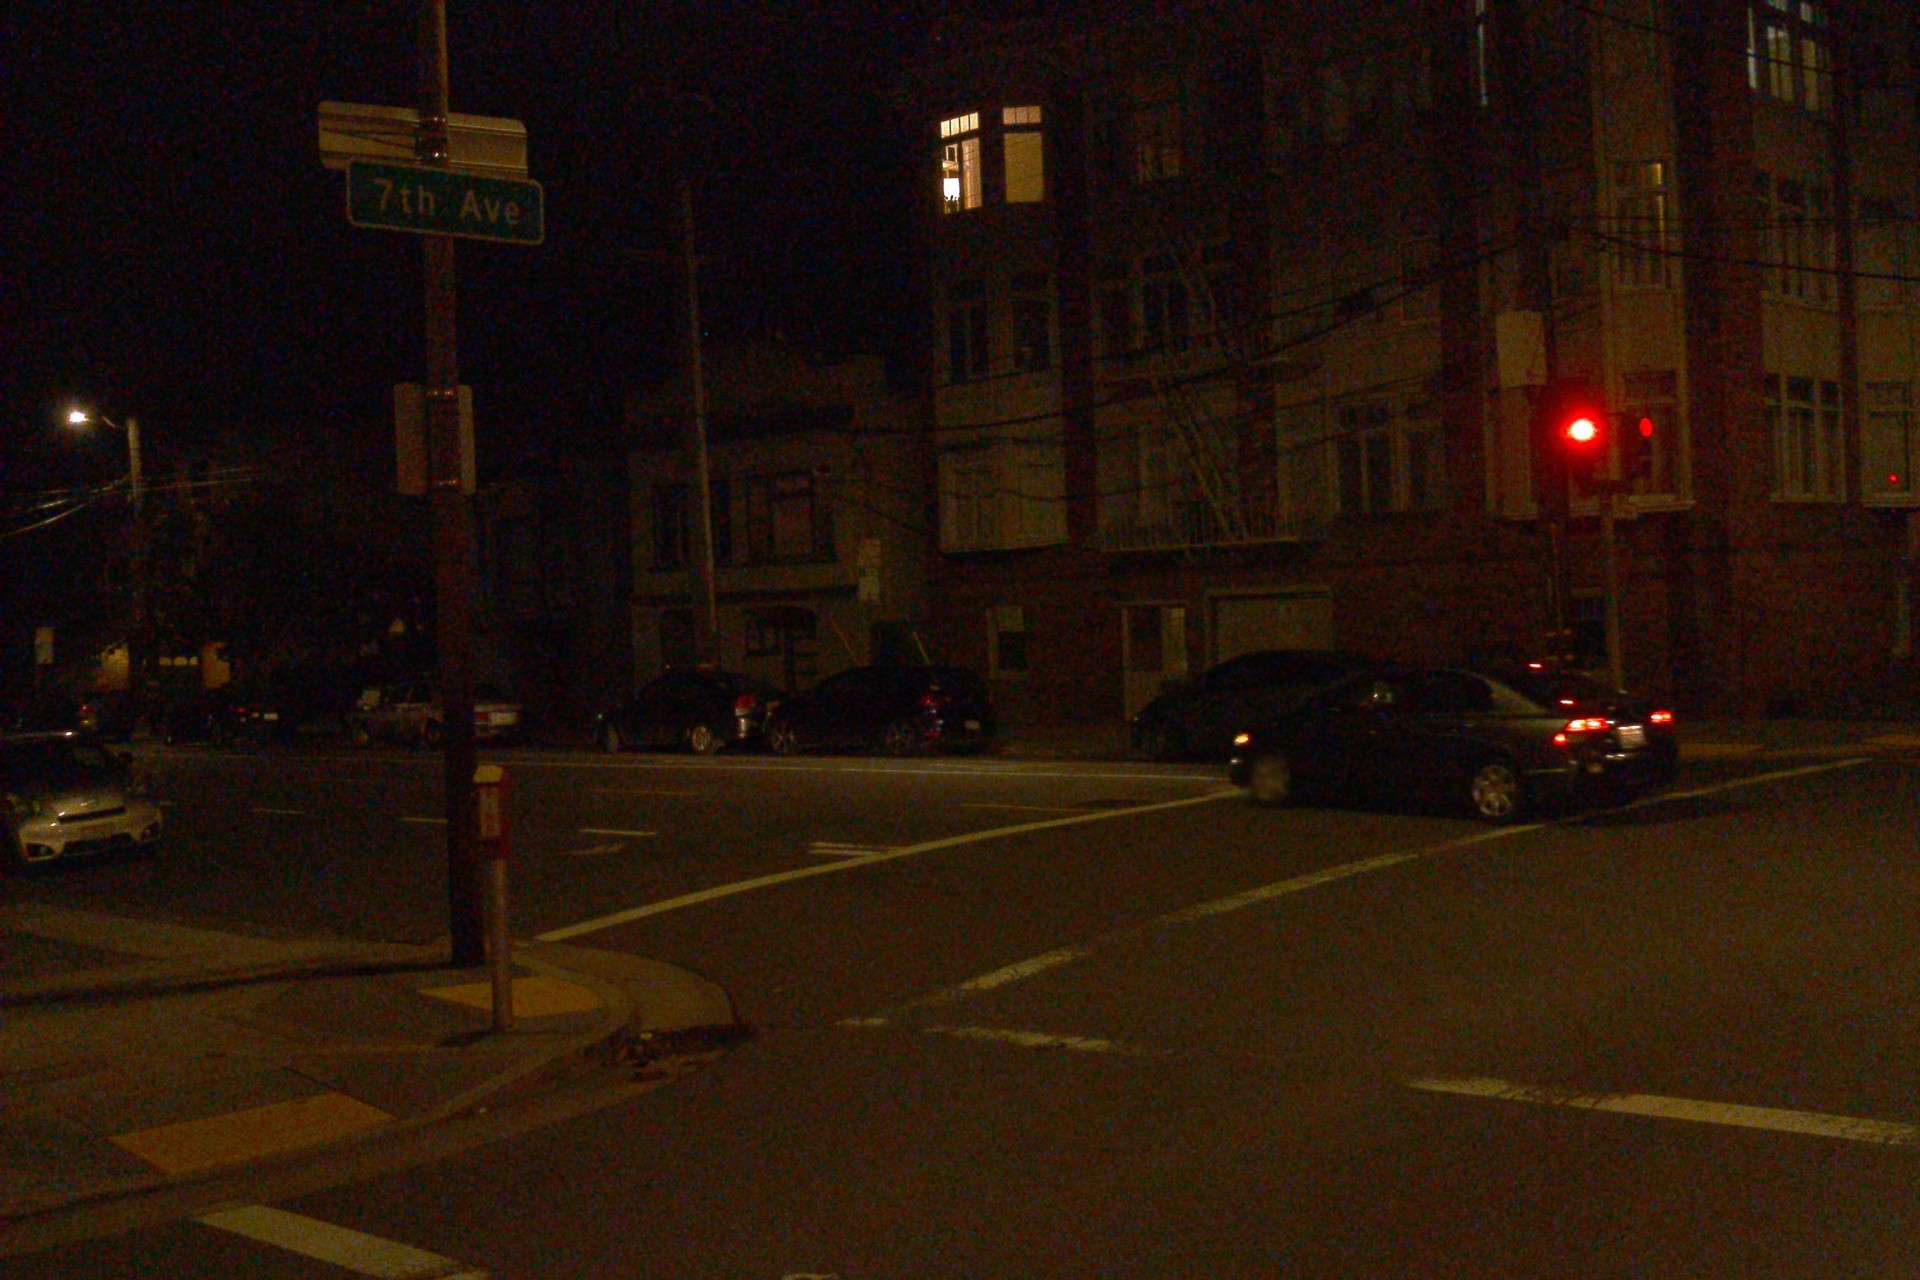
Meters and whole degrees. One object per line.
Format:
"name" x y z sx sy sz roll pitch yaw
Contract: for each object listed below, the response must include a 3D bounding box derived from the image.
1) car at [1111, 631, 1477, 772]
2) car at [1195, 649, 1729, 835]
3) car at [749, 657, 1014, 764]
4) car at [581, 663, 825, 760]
"car" 4.296 0.726 26.963 1.933 1.630 4.458 -1 1 -44
"car" 4.536 0.842 19.250 2.068 1.420 4.593 -1 1 -36
"car" -1.297 1.061 32.501 4.150 1.470 1.786 1 1 43
"car" -4.510 1.195 35.768 4.298 1.460 1.941 1 1 44
